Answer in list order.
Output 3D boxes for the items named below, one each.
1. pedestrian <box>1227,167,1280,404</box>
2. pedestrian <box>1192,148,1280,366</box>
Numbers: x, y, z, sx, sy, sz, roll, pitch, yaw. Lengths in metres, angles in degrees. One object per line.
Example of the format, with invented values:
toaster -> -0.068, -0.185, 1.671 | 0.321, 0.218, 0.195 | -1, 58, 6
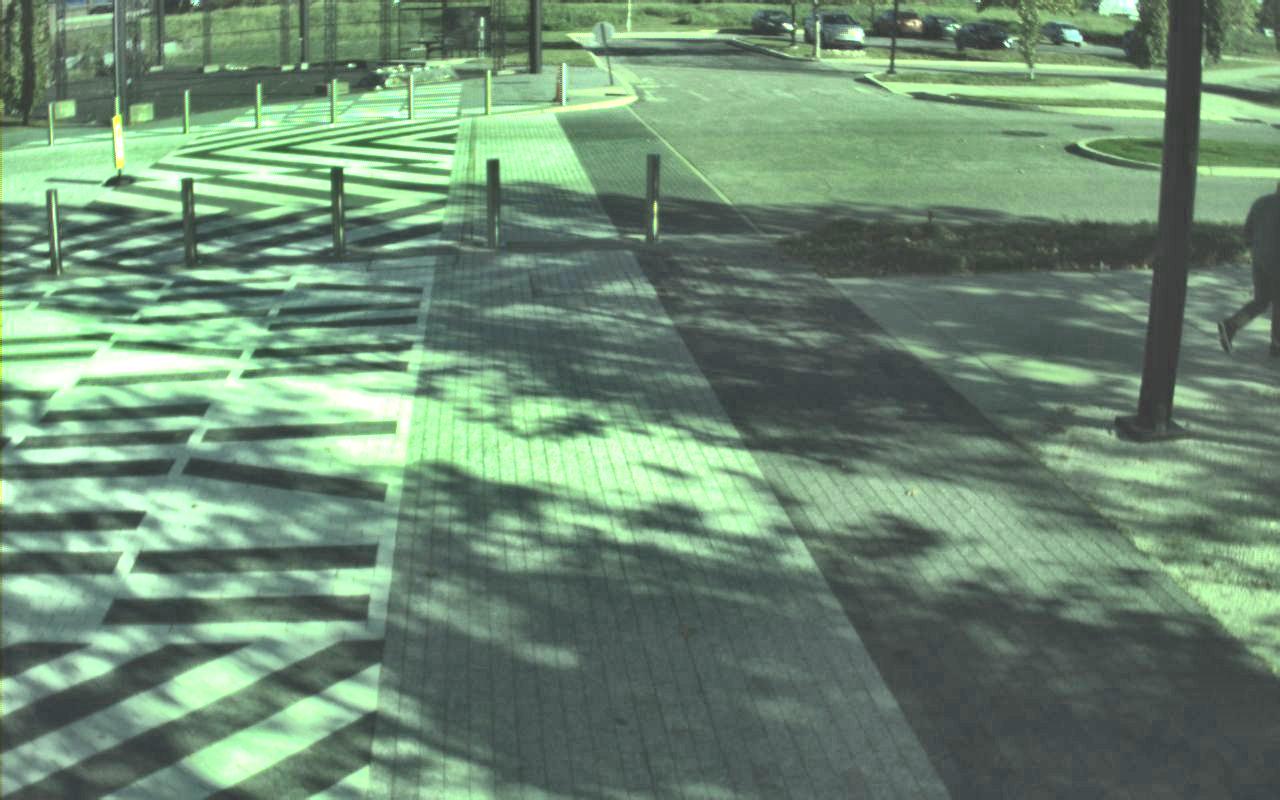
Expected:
pedestrian -> 5.166, -0.877, 8.698 | 0.887, 1.694, 0.817 | 0, 16, 5
pedestrian -> 5.278, -1.219, 9.615 | 0.839, 1.698, 0.780 | -6, 16, -18
